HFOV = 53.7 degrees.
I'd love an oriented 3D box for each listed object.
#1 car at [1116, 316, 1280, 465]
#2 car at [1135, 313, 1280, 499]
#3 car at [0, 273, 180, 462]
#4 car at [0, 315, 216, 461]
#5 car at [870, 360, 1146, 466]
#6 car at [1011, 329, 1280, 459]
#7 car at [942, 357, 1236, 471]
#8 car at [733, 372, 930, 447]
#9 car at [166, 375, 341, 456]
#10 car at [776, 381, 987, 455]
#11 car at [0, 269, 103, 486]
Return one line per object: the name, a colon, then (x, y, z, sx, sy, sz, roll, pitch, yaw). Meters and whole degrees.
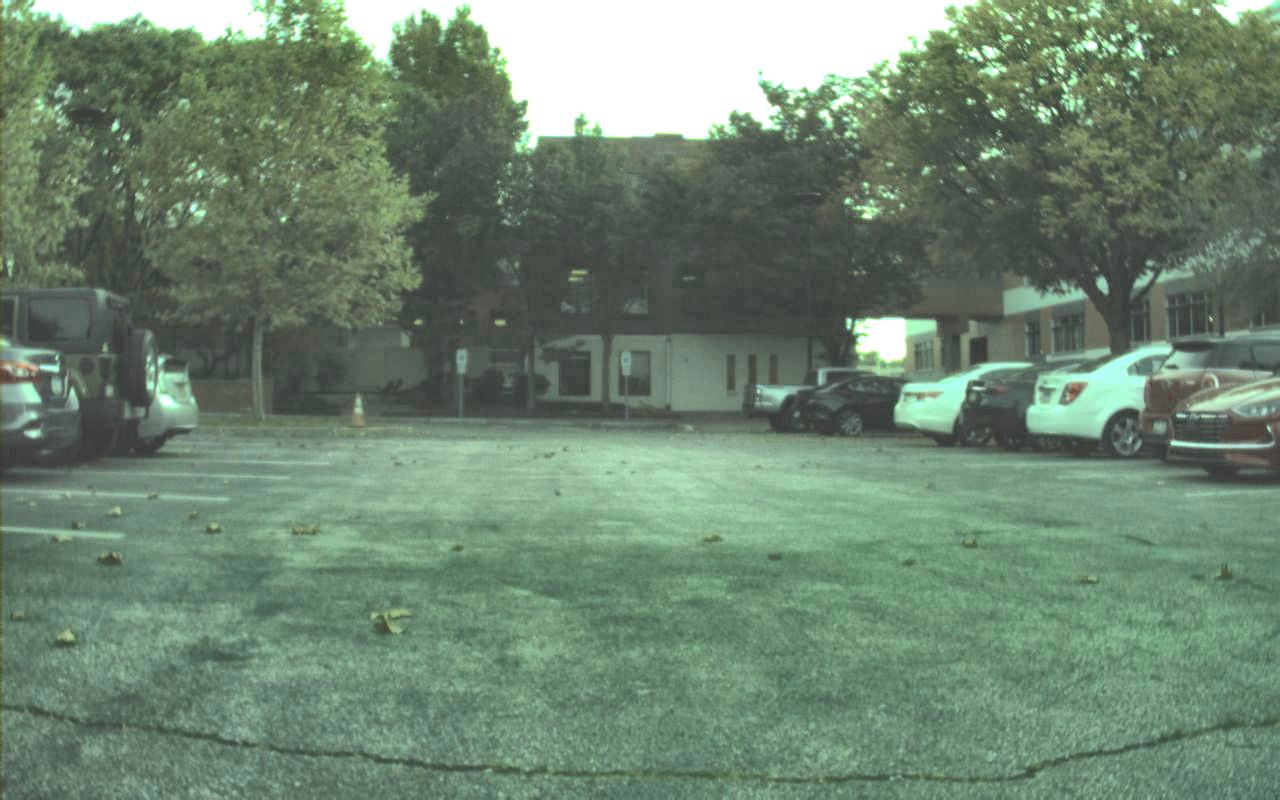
car: (8.126, -0.096, 13.942, 4.442, 1.615, 1.937, 0, 1, -14)
car: (7.288, 0.066, 10.963, 4.594, 1.590, 1.963, 0, 1, -6)
car: (-7.264, -0.325, 11.746, 4.677, 1.798, 2.027, 0, 1, -9)
car: (-7.577, -0.150, 14.151, 4.478, 1.666, 1.975, 0, 1, -7)
car: (6.454, 0.210, 21.398, 4.580, 1.719, 1.996, 0, 1, -4)
car: (7.466, -0.067, 16.335, 4.413, 1.652, 1.932, 0, 1, -1)
car: (7.104, 0.203, 18.837, 4.462, 1.640, 1.940, 0, 1, -7)
car: (5.169, 0.238, 34.068, 5.010, 1.917, 2.098, 0, 1, -7)
car: (-13.432, 0.554, 42.063, 6.014, 2.668, 2.410, 0, 1, -8)
car: (5.644, 0.390, 29.038, 4.592, 1.601, 1.959, 0, 1, -14)
car: (-6.963, -0.179, 9.170, 4.454, 1.637, 1.964, 0, 1, -7)
